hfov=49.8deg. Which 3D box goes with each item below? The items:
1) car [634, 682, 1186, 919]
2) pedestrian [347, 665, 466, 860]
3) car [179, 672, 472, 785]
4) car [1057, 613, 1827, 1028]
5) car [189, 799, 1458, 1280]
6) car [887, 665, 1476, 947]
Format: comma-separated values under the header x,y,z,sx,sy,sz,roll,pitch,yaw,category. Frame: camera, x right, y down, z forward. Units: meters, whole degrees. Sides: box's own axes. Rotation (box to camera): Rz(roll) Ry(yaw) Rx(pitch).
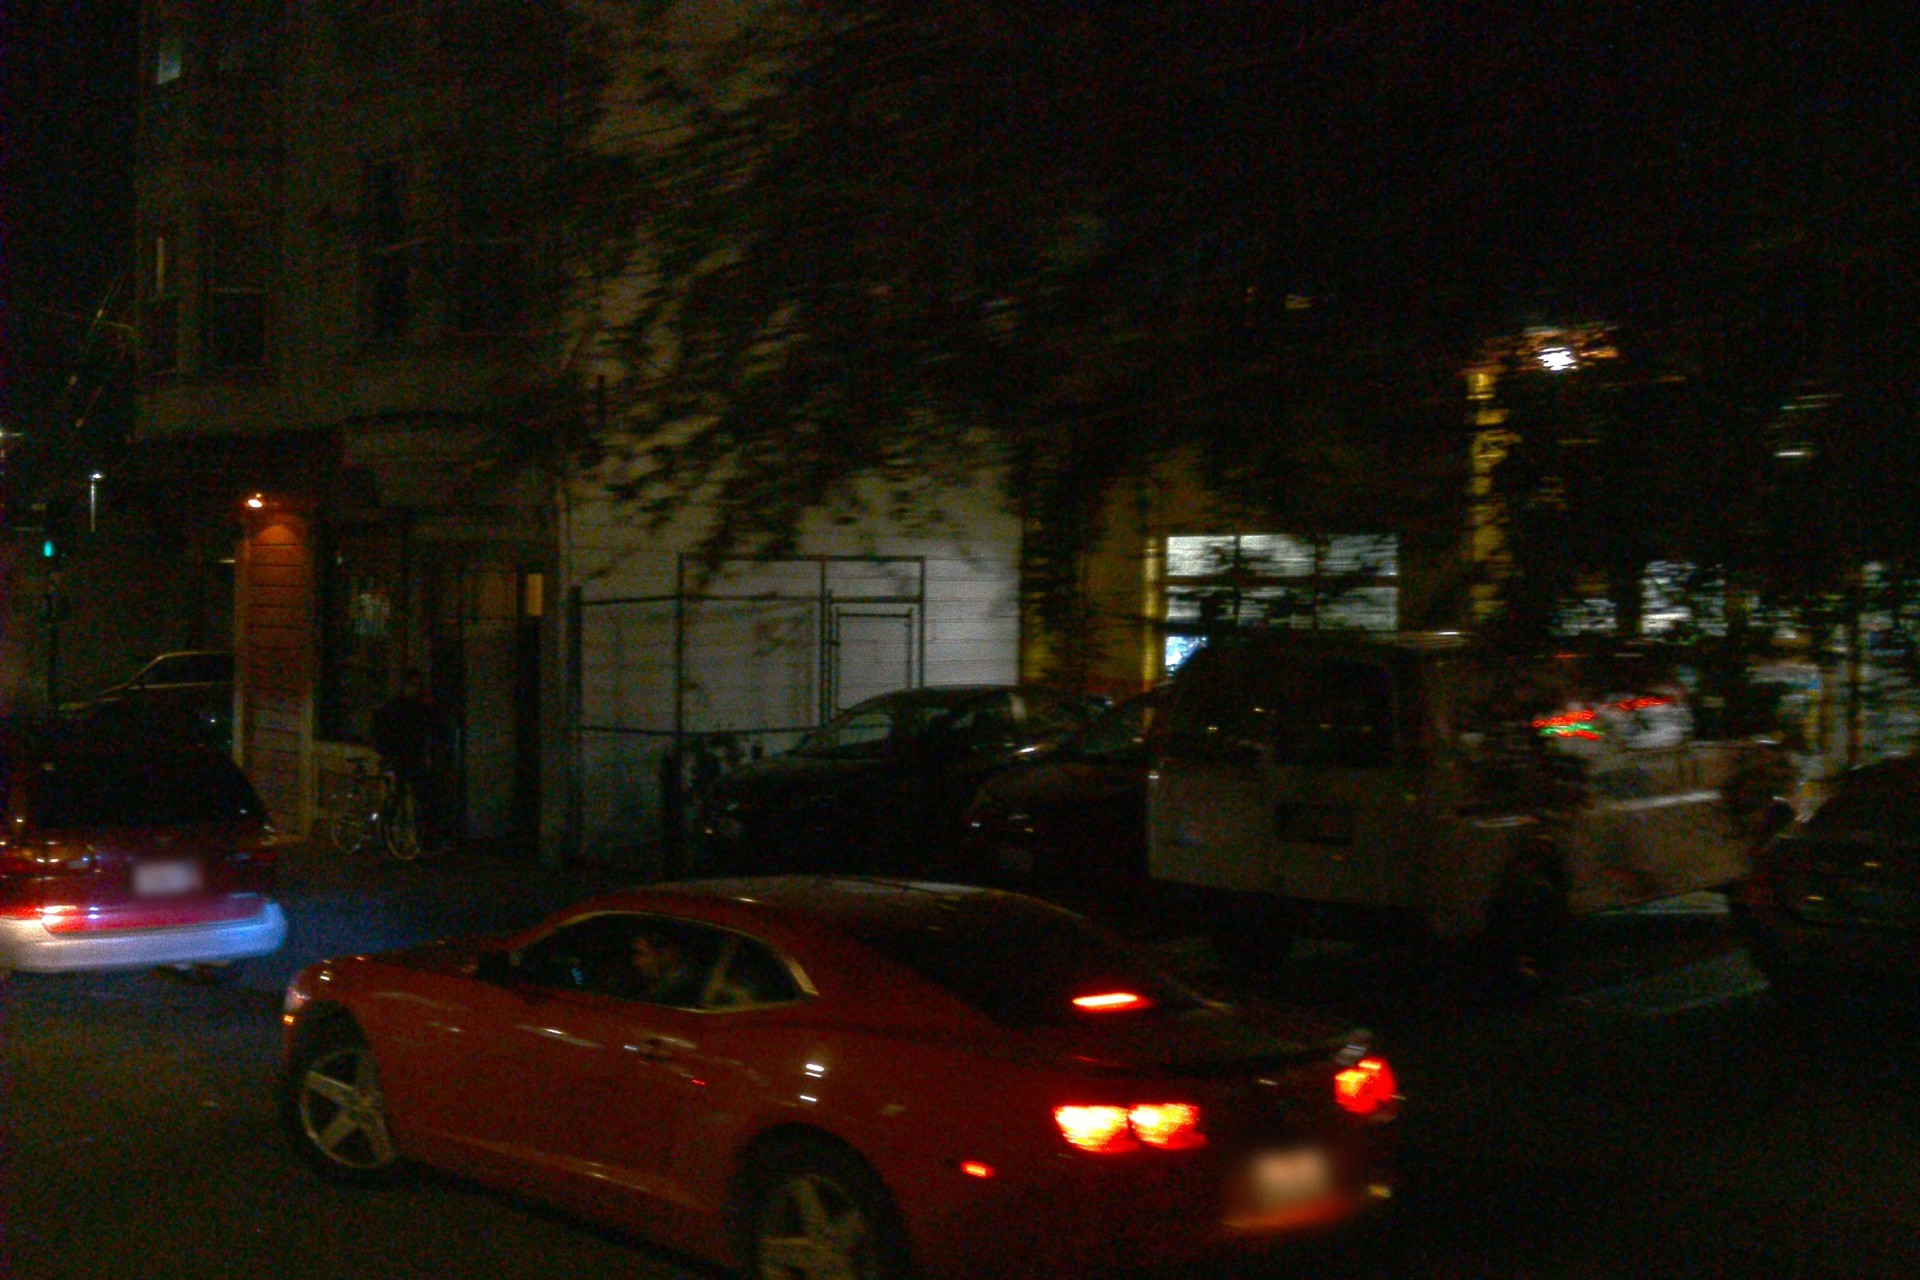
x,y,z,sx,sy,sz,roll,pitch,yaw,category
-0.319,1.224,17.488,4.415,1.710,2.087,1,-1,-44,car
-5.270,1.143,19.694,0.764,1.799,0.880,0,0,-42,pedestrian
-9.543,1.280,31.261,3.809,1.590,1.825,1,-1,-43,car
3.382,0.982,13.650,2.464,2.170,5.461,0,-1,44,car
-0.826,1.513,7.812,2.088,1.490,4.884,1,-1,-45,car
1.801,1.126,15.897,4.342,1.840,2.231,1,-1,-44,car
